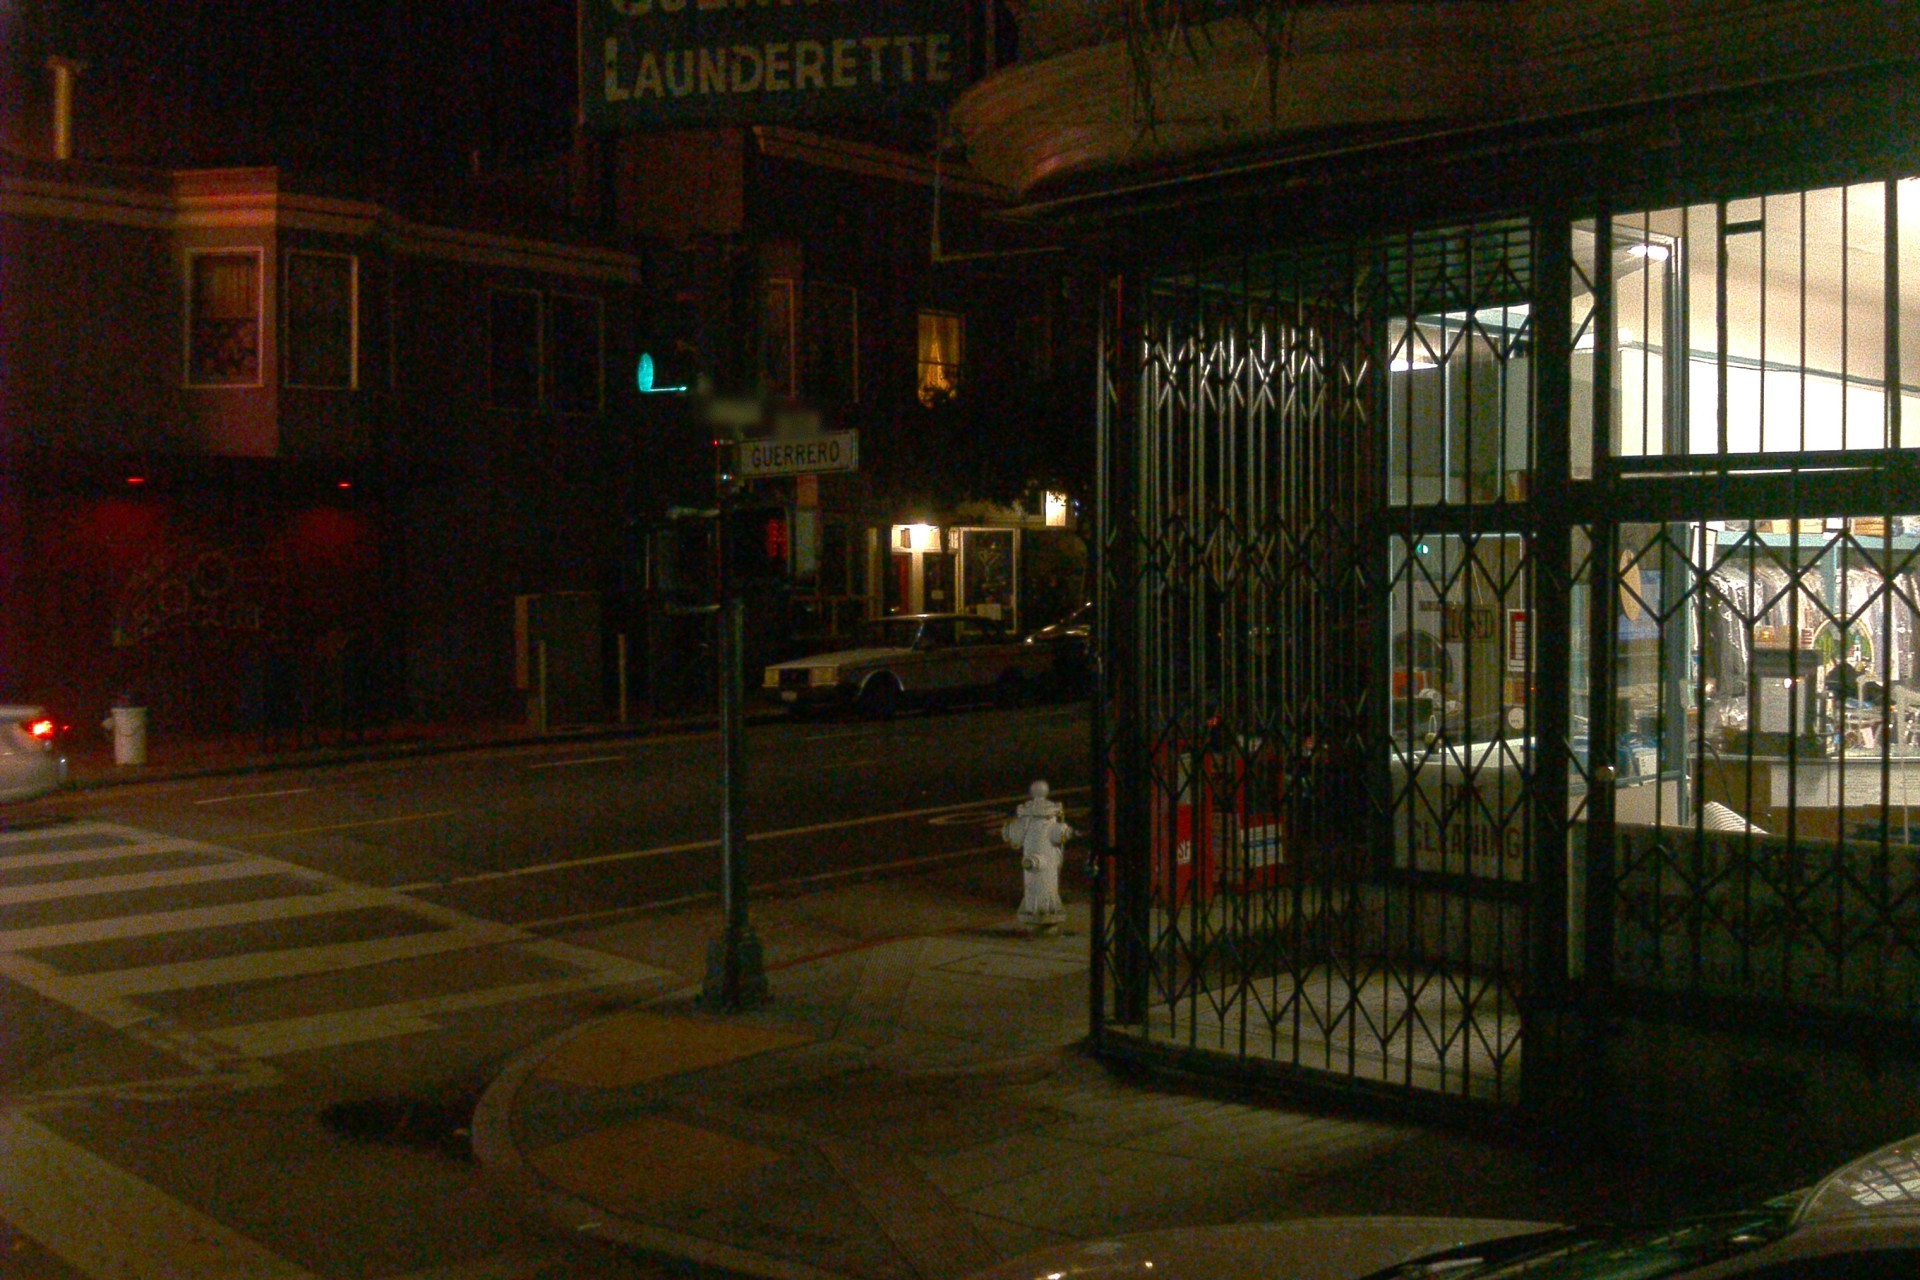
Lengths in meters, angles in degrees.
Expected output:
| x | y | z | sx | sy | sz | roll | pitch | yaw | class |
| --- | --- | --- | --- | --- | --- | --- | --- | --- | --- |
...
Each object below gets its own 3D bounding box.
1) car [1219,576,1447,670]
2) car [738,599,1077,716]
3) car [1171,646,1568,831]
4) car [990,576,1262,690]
| x | y | z | sx | sy | sz | roll | pitch | yaw | class |
| --- | --- | --- | --- | --- | --- | --- | --- | --- | --- |
| 6.680 | -0.272 | 37.011 | 1.924 | 1.570 | 4.226 | 1 | 0 | 45 | car |
| -0.652 | 0.250 | 29.839 | 1.884 | 1.550 | 4.981 | 1 | 0 | 43 | car |
| 3.605 | 0.788 | 18.001 | 3.504 | 1.420 | 1.655 | 1 | 0 | -45 | car |
| 2.702 | -0.090 | 33.202 | 1.991 | 1.690 | 4.349 | 1 | 0 | 44 | car |
